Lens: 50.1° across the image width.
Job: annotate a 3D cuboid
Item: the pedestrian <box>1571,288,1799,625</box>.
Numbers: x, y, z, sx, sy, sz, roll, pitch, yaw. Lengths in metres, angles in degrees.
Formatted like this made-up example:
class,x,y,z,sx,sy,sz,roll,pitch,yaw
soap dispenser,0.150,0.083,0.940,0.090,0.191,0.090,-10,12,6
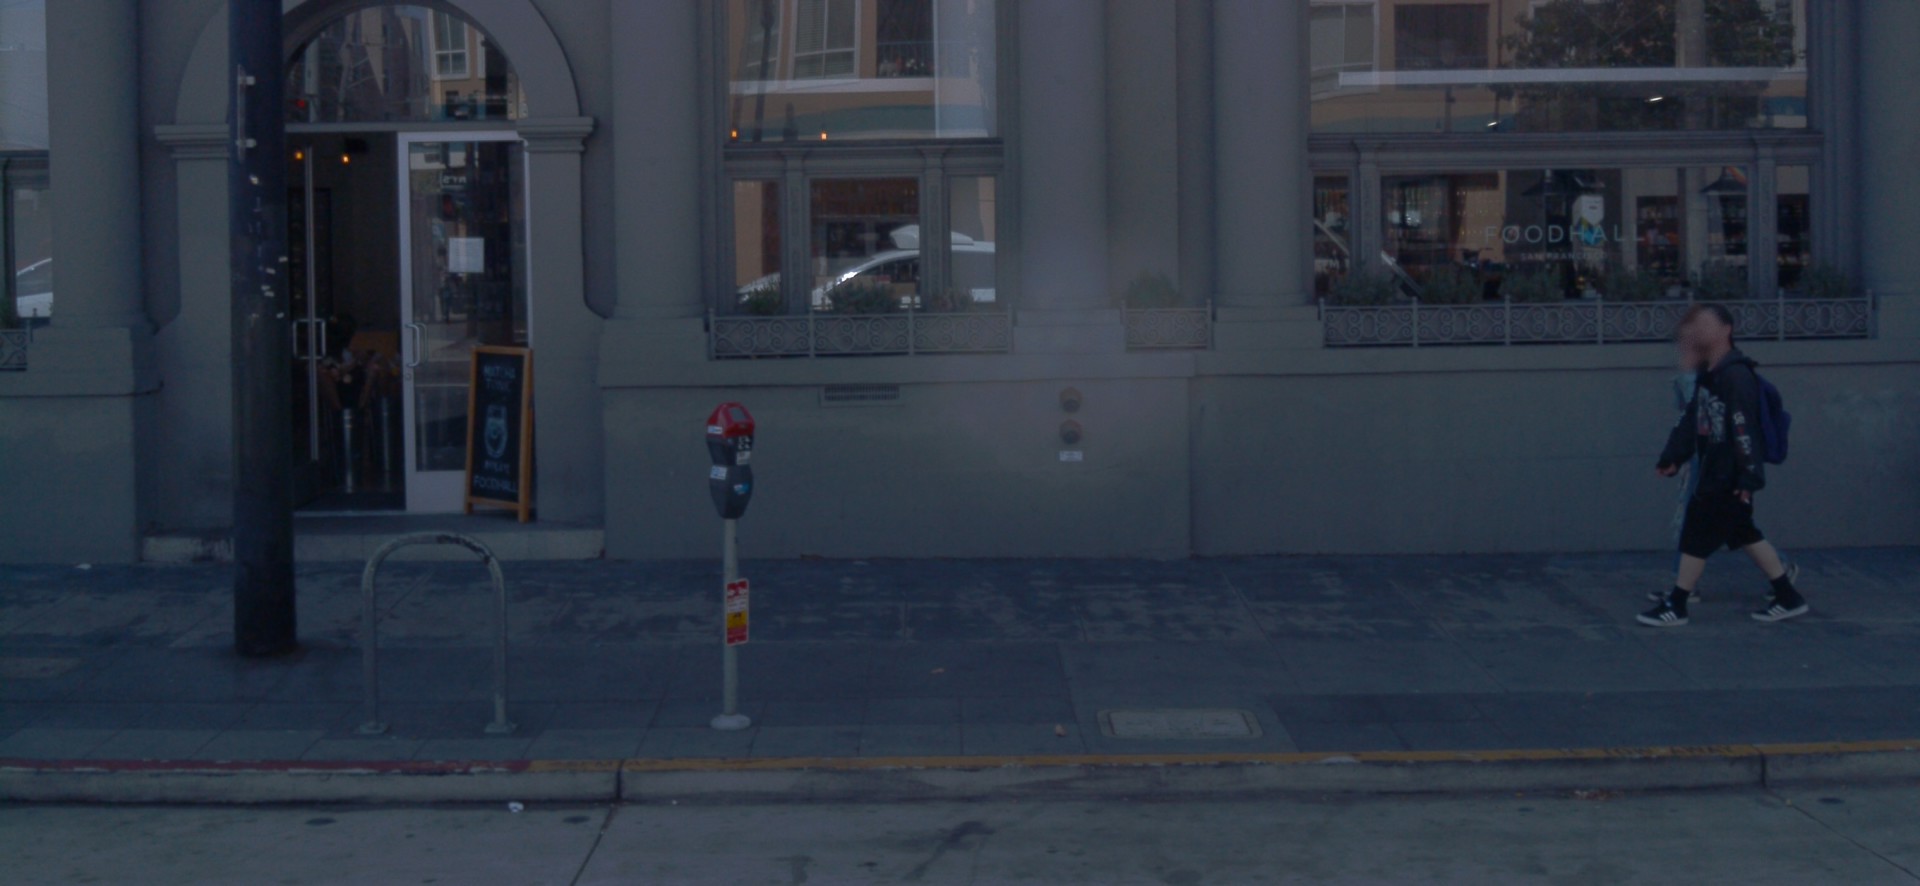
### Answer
class,x,y,z,sx,sy,sz,roll,pitch,yaw
pedestrian,3.991,0.045,11.366,1.028,1.789,0.691,0,1,1

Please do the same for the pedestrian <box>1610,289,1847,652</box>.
class,x,y,z,sx,sy,sz,roll,pitch,yaw
pedestrian,3.968,0.111,10.667,0.984,1.799,0.714,0,1,3
